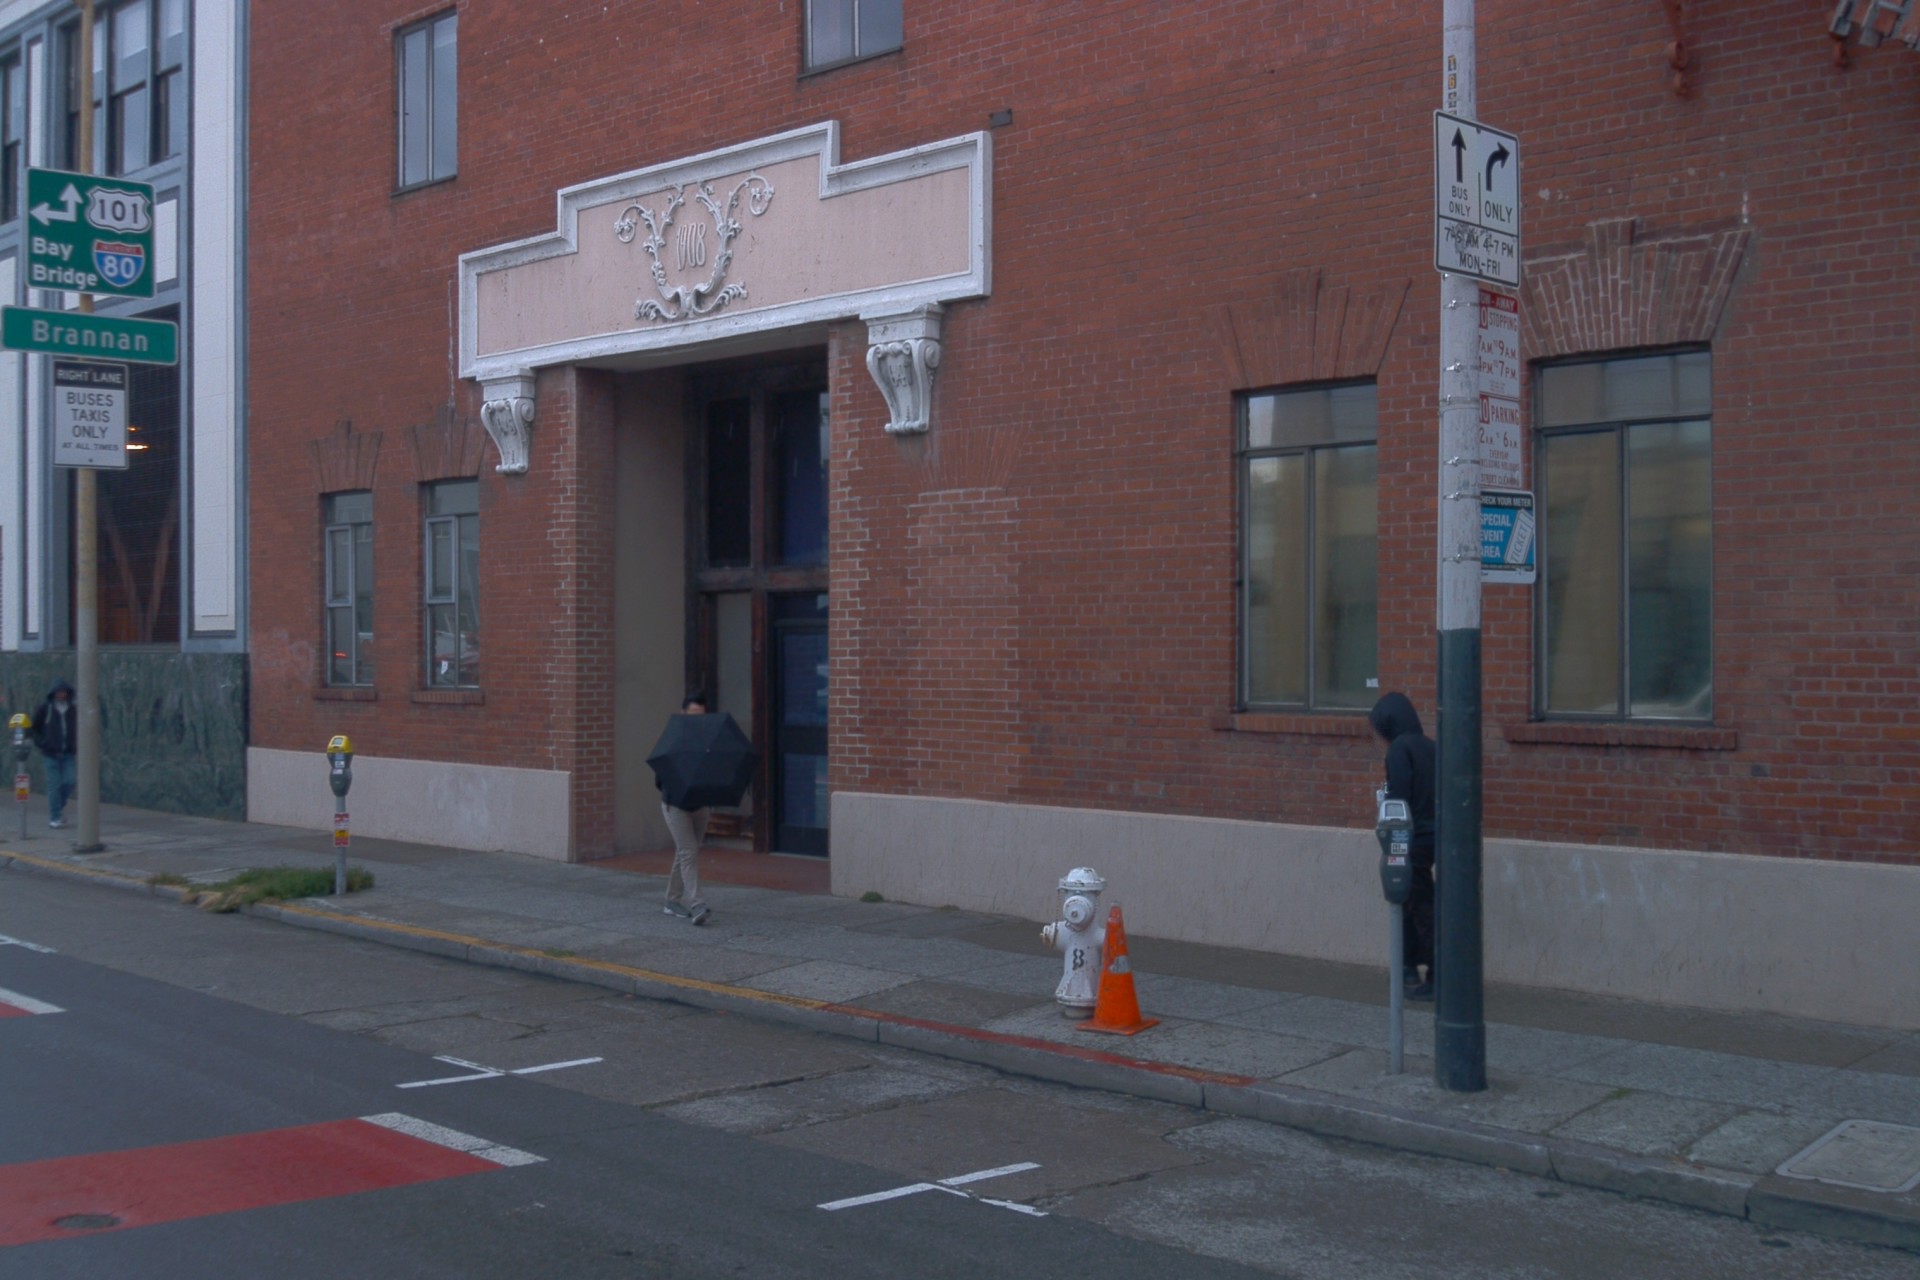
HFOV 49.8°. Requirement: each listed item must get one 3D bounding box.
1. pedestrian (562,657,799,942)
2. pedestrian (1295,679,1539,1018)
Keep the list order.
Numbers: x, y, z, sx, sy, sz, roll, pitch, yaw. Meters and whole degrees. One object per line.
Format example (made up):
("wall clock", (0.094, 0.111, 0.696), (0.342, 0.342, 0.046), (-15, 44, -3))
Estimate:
("pedestrian", (-2.082, 1.119, 15.309), (1.005, 1.970, 1.540), (1, -1, -44))
("pedestrian", (2.657, 1.159, 12.061), (0.798, 1.848, 1.126), (1, -1, -44))
